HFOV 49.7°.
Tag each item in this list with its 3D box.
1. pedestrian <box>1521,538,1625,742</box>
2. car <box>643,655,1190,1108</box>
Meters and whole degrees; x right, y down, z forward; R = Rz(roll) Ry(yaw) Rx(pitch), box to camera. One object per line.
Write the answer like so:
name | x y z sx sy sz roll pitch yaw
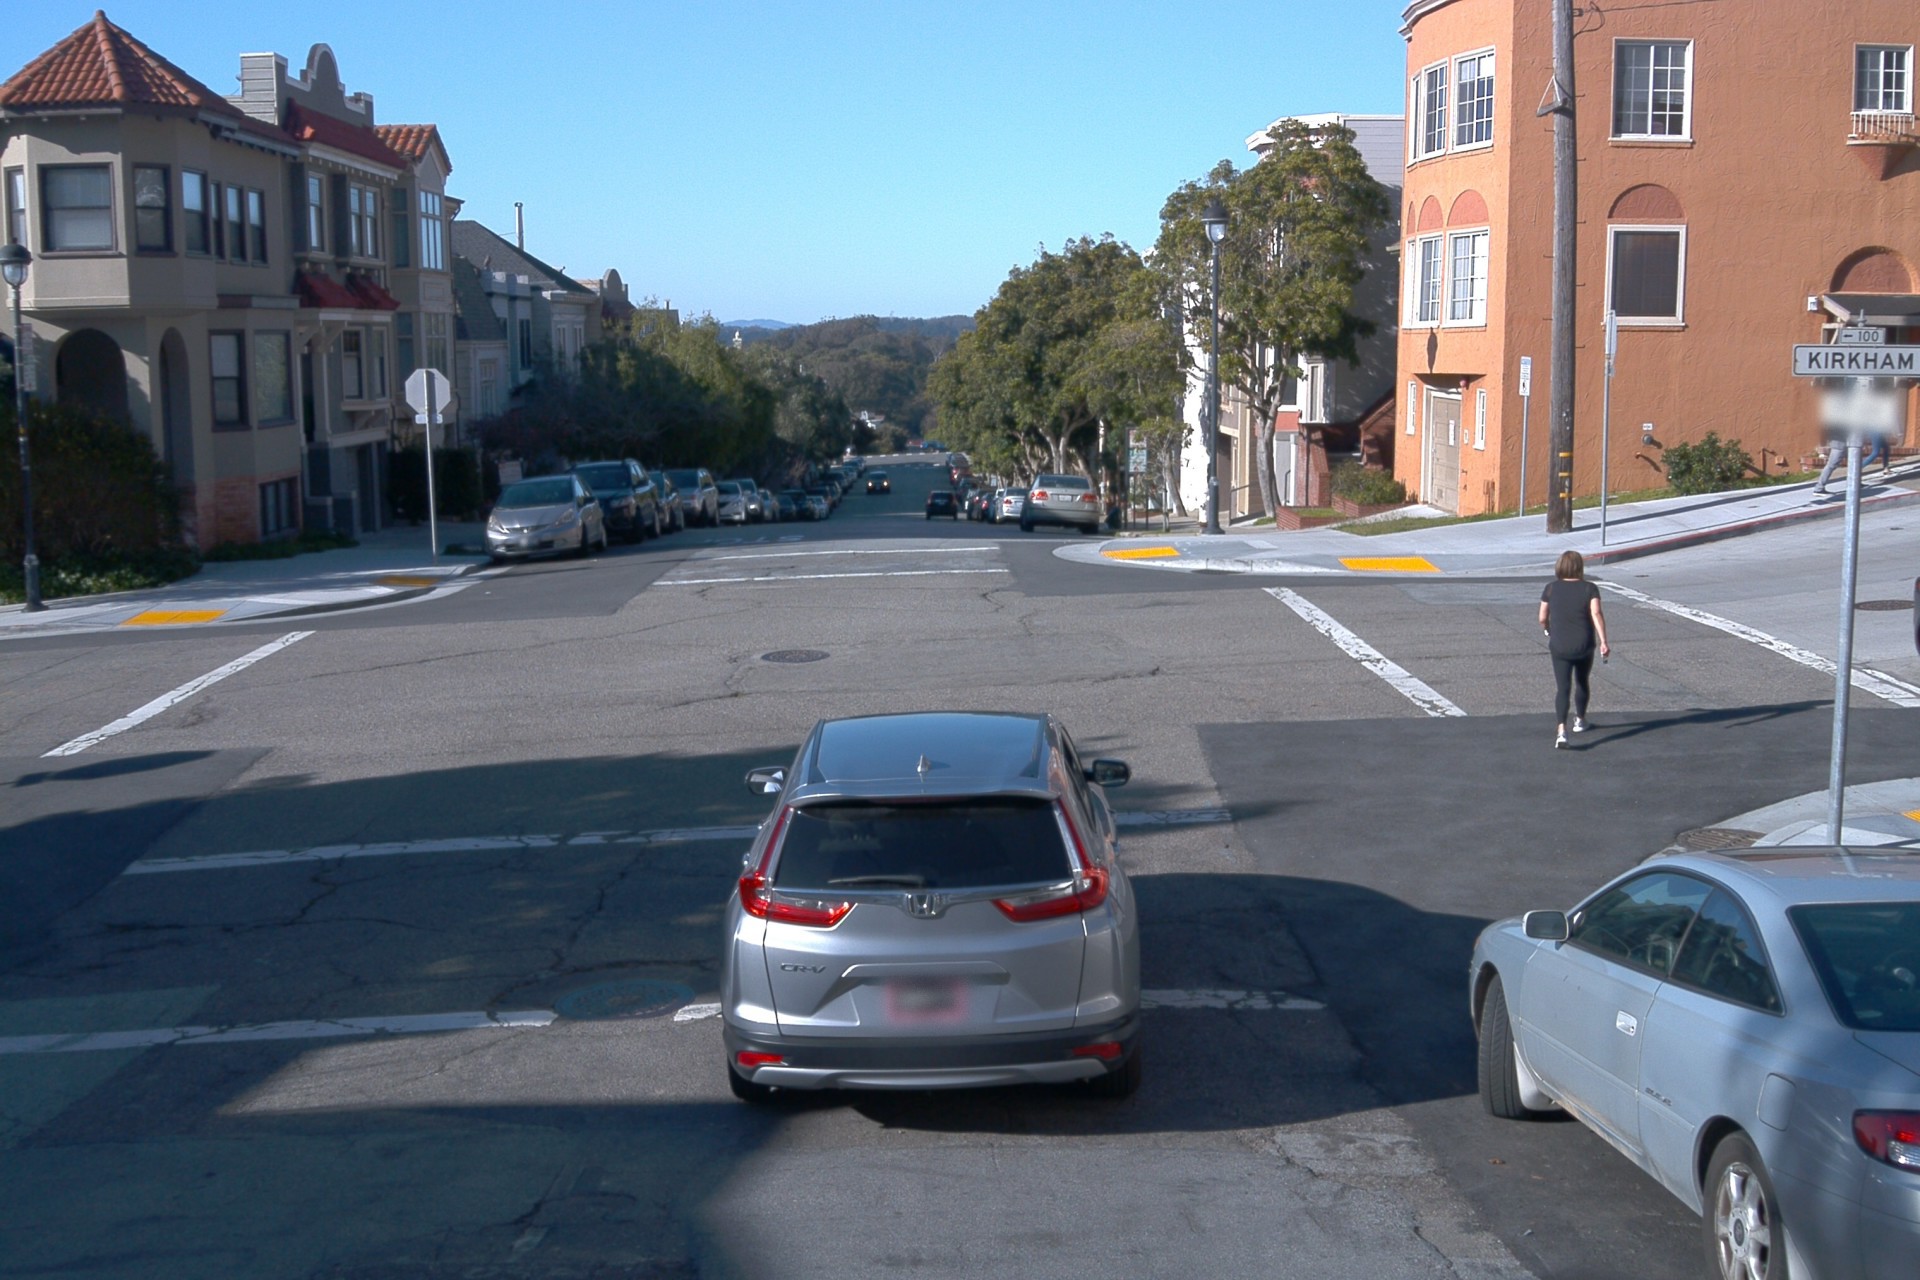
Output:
pedestrian | 5.078 0.004 17.115 0.731 1.620 1.128 0 0 21
car | -0.178 0.986 10.648 2.191 1.800 4.695 0 0 0
